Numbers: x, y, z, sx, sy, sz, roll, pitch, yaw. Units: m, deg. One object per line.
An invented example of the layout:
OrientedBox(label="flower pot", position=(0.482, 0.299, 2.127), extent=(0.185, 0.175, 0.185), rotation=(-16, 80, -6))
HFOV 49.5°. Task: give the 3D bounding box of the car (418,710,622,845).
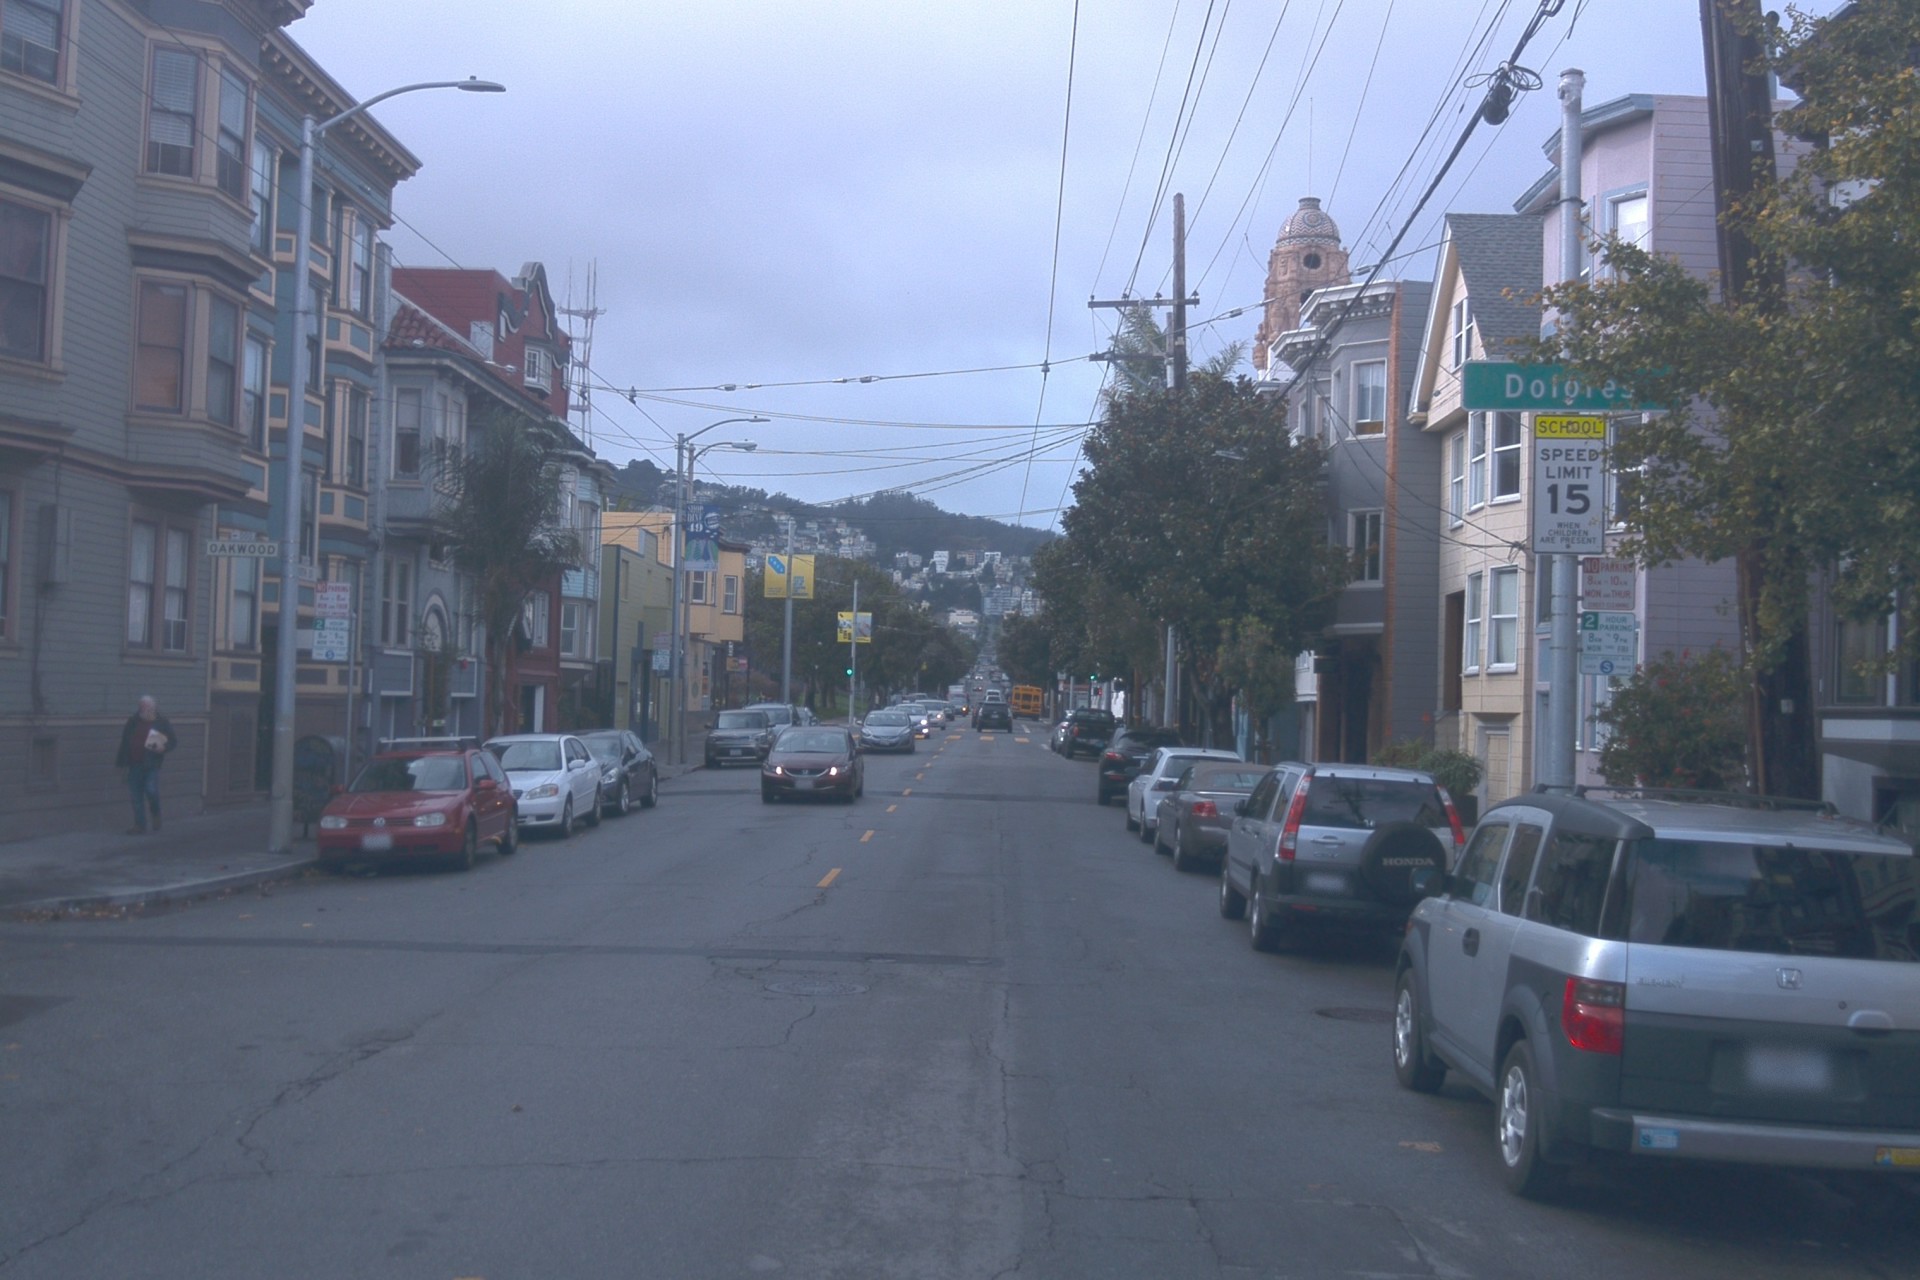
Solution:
OrientedBox(label="car", position=(-6.401, 1.964, 30.853), extent=(2.041, 1.780, 4.511), rotation=(1, -2, 0))

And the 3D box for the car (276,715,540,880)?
OrientedBox(label="car", position=(-6.543, 1.818, 25.216), extent=(2.041, 1.750, 4.256), rotation=(1, -2, -1))

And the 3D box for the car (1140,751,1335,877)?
OrientedBox(label="car", position=(3.567, 2.234, 27.595), extent=(1.962, 1.390, 4.511), rotation=(1, -2, 0))

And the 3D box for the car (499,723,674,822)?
OrientedBox(label="car", position=(-6.403, 2.256, 36.296), extent=(2.085, 1.520, 4.744), rotation=(1, -2, 1))

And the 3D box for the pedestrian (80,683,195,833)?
OrientedBox(label="pedestrian", position=(-10.419, 1.479, 26.430), extent=(1.000, 1.850, 1.000), rotation=(1, -1, 0))

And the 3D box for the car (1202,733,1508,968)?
OrientedBox(label="car", position=(3.518, 1.831, 19.449), extent=(2.068, 1.820, 4.575), rotation=(1, -2, 1))

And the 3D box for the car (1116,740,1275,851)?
OrientedBox(label="car", position=(3.596, 2.367, 32.526), extent=(2.059, 1.500, 4.269), rotation=(1, -2, 1))
